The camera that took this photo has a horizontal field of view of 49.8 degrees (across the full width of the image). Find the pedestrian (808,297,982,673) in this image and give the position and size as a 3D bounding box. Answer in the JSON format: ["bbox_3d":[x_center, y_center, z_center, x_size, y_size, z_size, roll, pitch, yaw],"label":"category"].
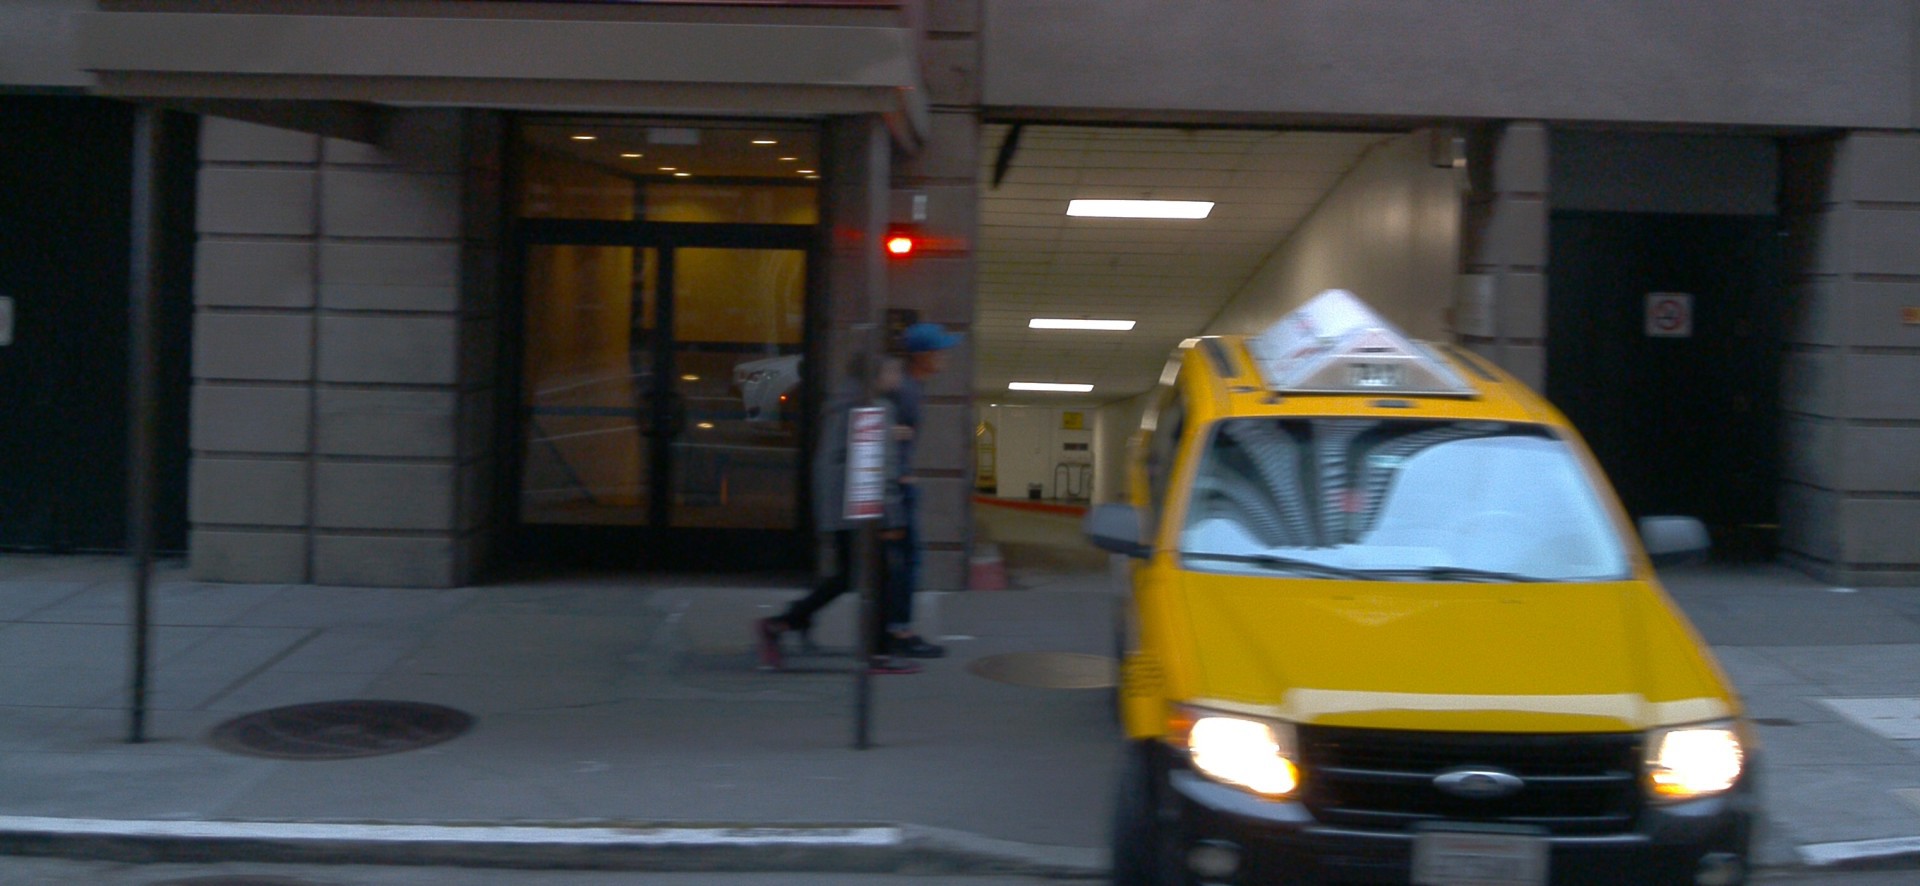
[{"bbox_3d":[-0.342,0.186,10.549,0.853,1.839,0.607,0,1,-5],"label":"pedestrian"}]

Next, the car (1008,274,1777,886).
[{"bbox_3d":[1.275,0.471,7.849,2.083,2.153,4.411,0,4,3],"label":"car"}]

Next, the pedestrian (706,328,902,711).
[{"bbox_3d":[-0.765,0.331,9.995,0.853,1.739,0.672,0,1,-12],"label":"pedestrian"}]
